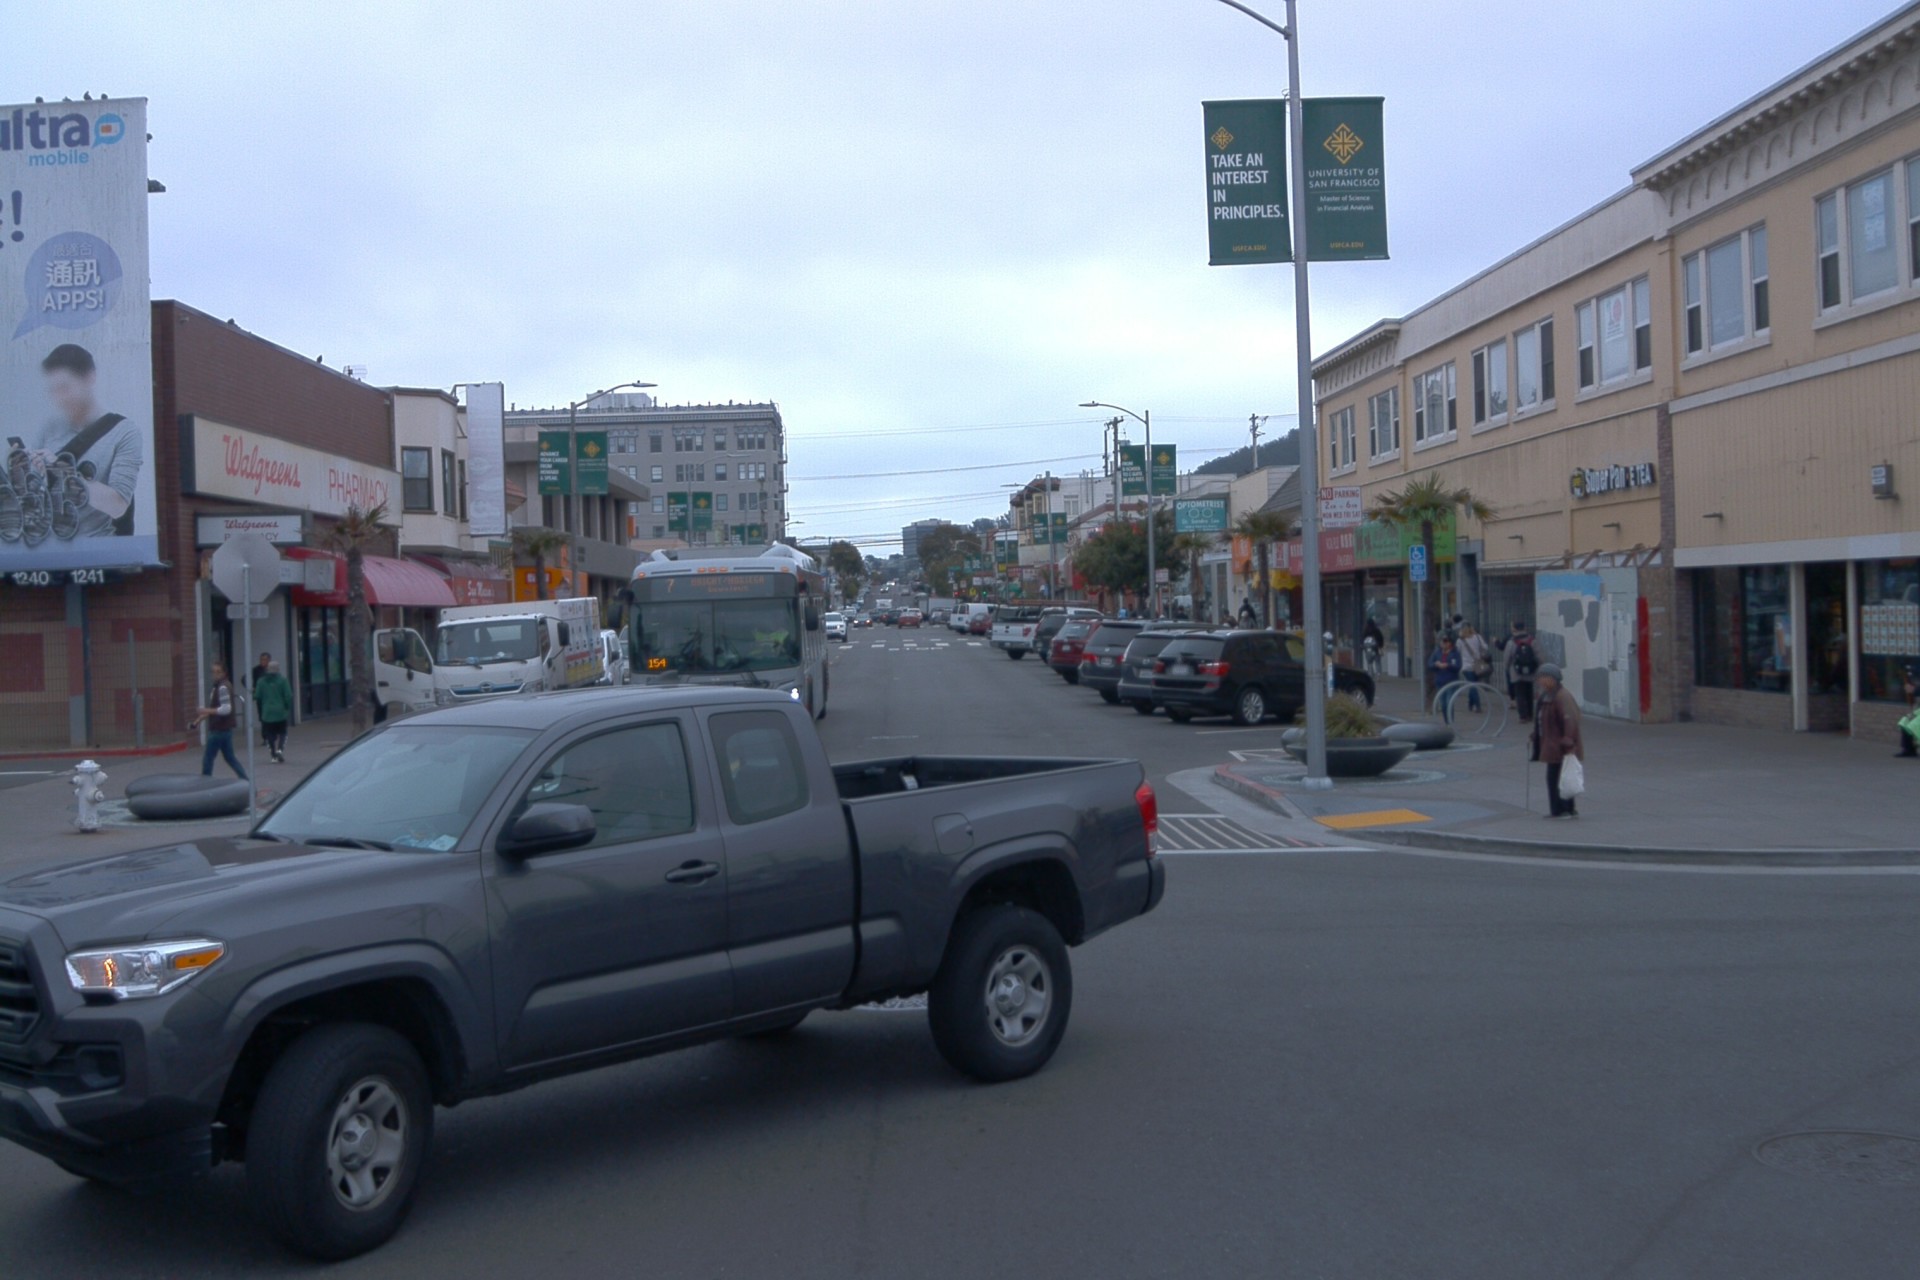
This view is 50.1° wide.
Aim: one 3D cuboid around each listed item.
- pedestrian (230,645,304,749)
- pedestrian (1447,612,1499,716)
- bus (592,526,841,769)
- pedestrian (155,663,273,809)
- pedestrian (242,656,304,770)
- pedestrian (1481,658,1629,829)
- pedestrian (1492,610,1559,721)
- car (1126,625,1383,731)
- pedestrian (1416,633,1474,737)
[{"bbox_3d":[-12.251,0.993,36.393,0.912,1.791,0.927,0,1,8],"label":"pedestrian"},{"bbox_3d":[9.078,0.412,36.417,0.711,1.824,0.916,0,1,2],"label":"pedestrian"},{"bbox_3d":[-3.864,0.002,35.909,3.212,3.480,12.598,0,1,-2],"label":"bus"},{"bbox_3d":[-9.667,1.227,26.698,1.261,1.820,0.885,0,1,-6],"label":"pedestrian"},{"bbox_3d":[-10.761,1.131,32.241,0.766,1.713,1.104,0,1,-10],"label":"pedestrian"},{"bbox_3d":[5.427,0.920,18.796,0.827,1.477,1.073,-1,1,-19],"label":"pedestrian"},{"bbox_3d":[9.144,0.399,33.259,0.925,1.770,0.948,0,1,8],"label":"pedestrian"},{"bbox_3d":[5.315,0.625,36.823,4.510,1.740,2.044,-1,1,-40],"label":"car"},{"bbox_3d":[7.609,0.687,32.244,0.750,1.598,0.775,0,1,24],"label":"pedestrian"}]
